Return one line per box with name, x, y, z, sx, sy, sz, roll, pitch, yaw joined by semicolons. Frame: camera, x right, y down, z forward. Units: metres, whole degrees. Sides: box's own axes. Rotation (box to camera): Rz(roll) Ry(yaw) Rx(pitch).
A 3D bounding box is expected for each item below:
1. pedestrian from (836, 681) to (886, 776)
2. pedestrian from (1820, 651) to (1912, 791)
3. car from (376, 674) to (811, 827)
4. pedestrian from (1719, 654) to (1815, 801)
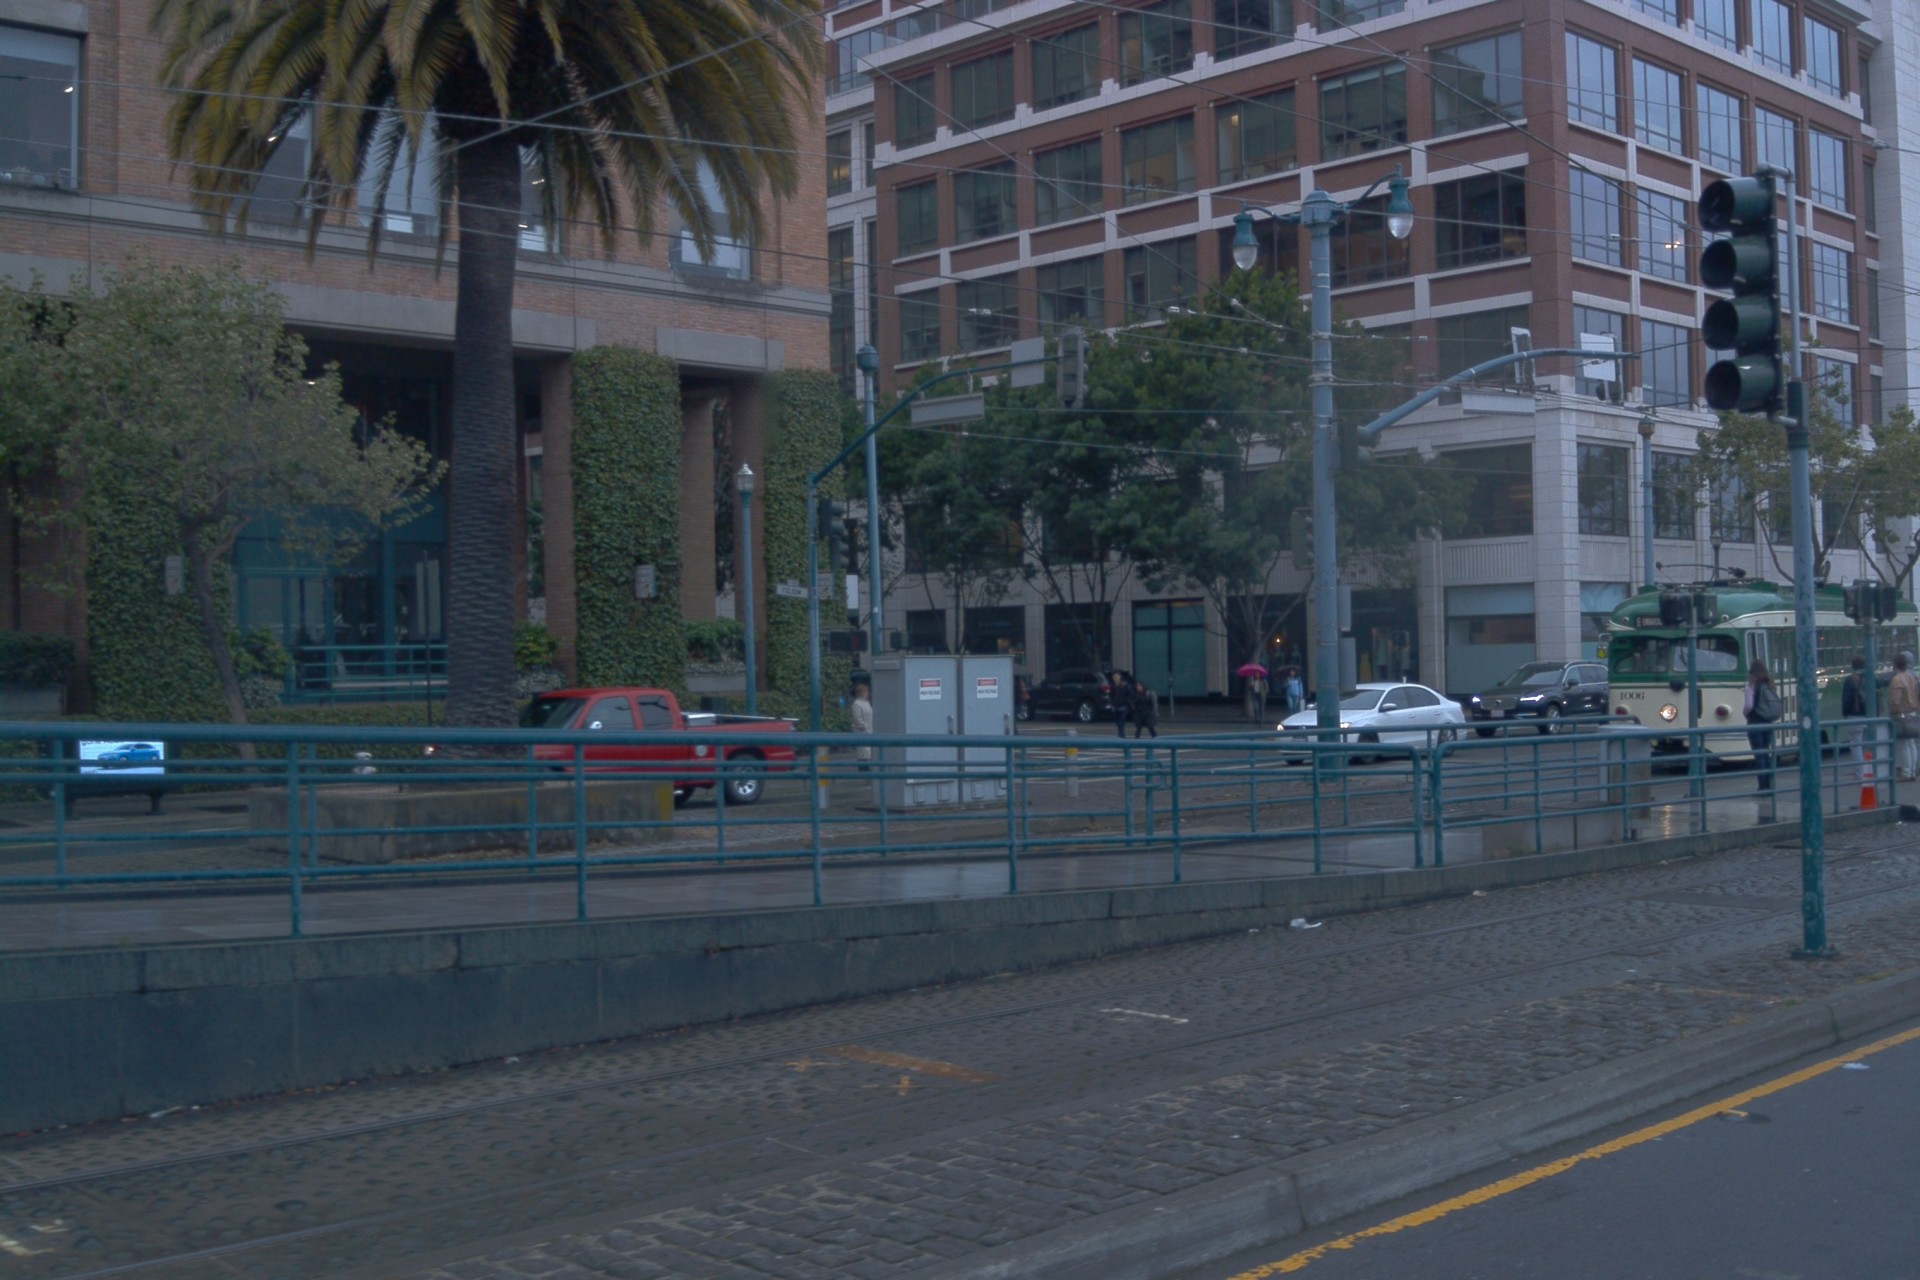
pedestrian;-1.833;1.624;38.419;0.687;1.710;0.635;0;0;-34
pedestrian;12.634;1.114;29.024;0.825;1.920;0.877;0;0;-14
car;-5.176;1.498;30.175;2.324;1.910;5.965;0;0;45
pedestrian;10.394;1.110;26.782;0.852;1.840;0.831;0;0;-37
